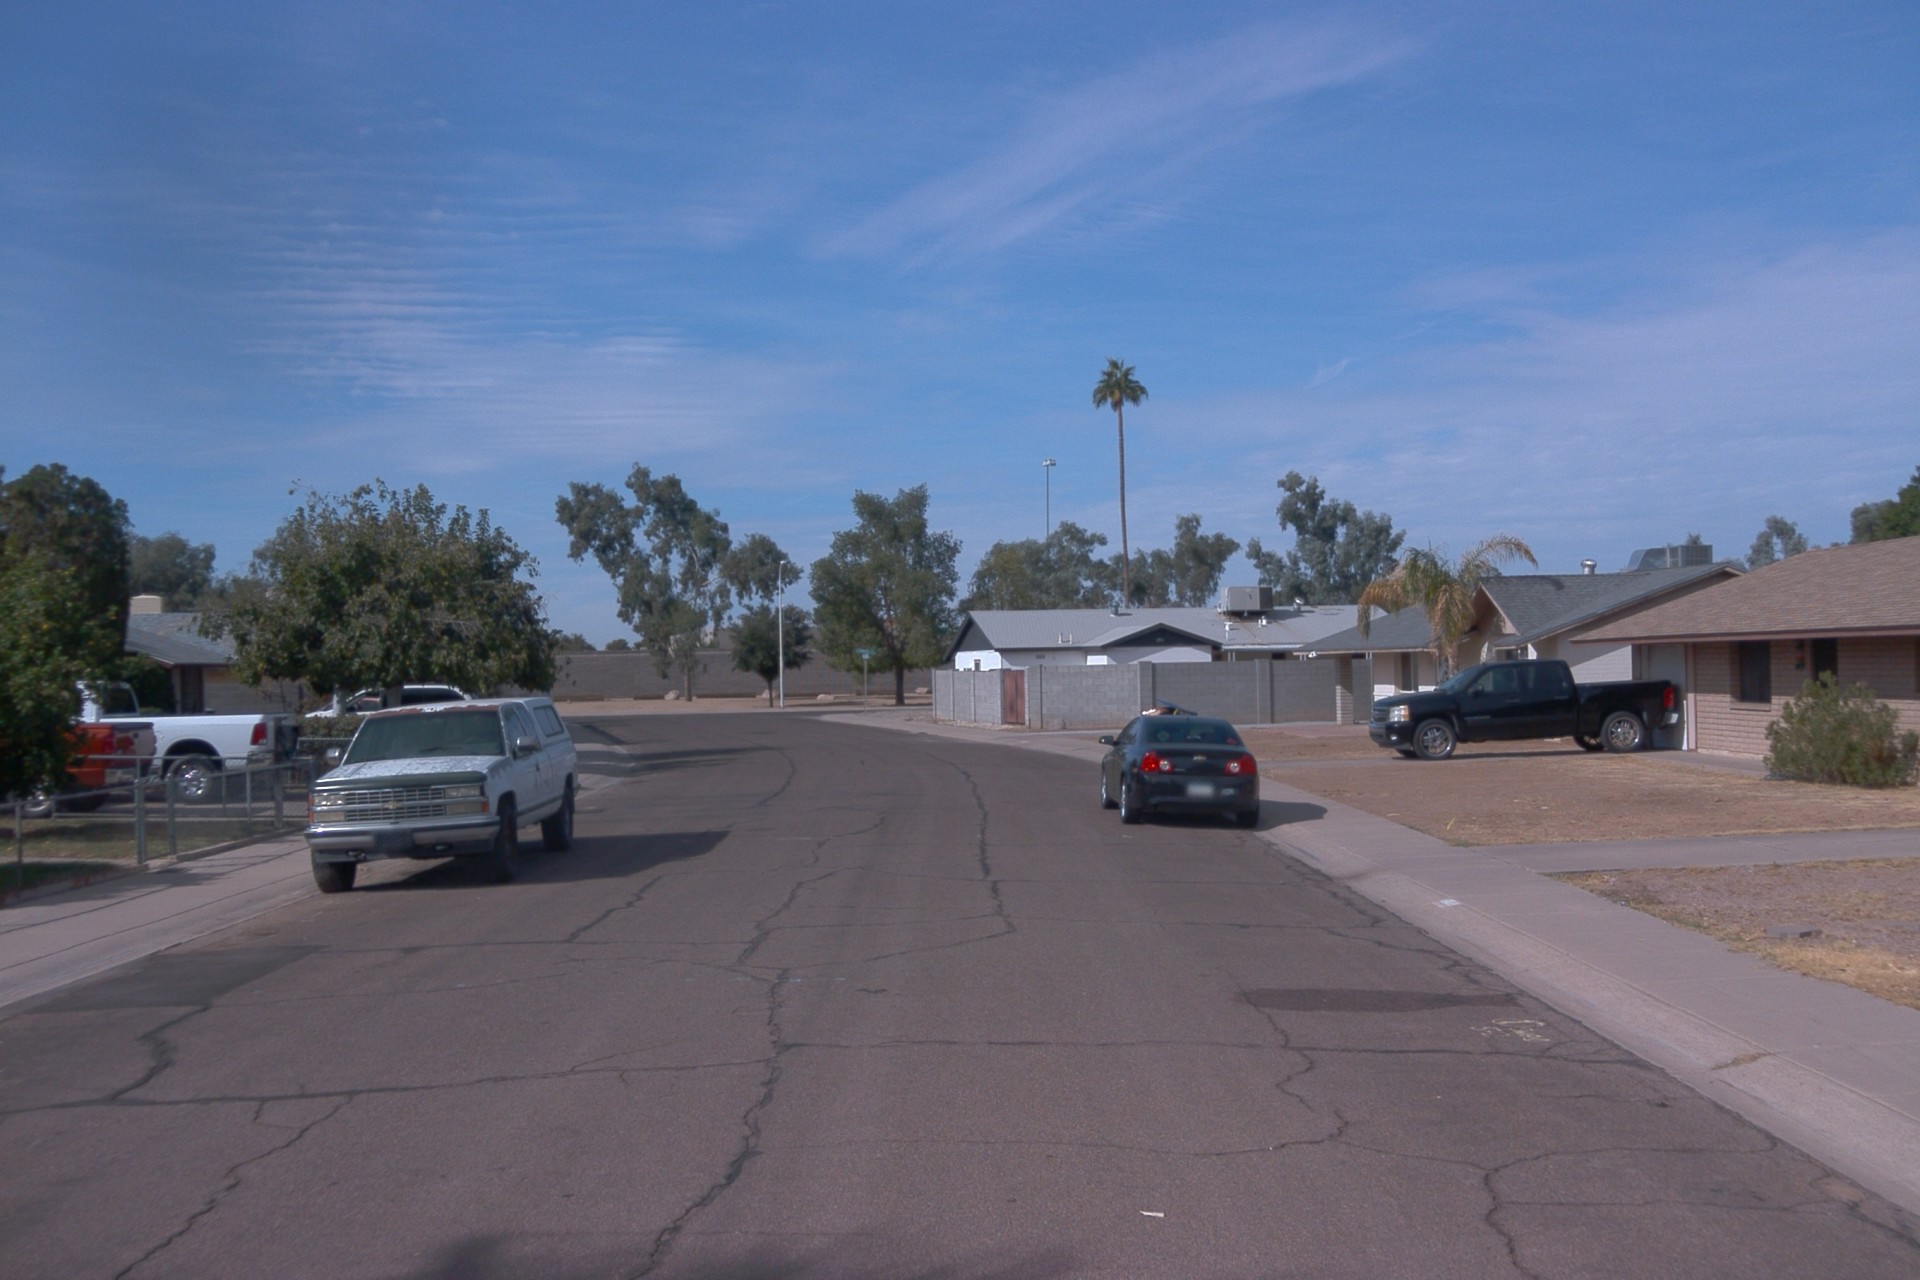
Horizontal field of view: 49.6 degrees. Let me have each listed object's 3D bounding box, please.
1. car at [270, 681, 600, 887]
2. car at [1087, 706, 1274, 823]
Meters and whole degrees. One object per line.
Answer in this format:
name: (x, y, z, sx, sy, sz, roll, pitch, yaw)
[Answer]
car: (-5.611, 1.456, 23.097, 2.300, 1.980, 5.750, 0, -1, -1)
car: (2.927, 1.646, 28.545, 1.890, 1.390, 4.691, 0, -1, -2)
